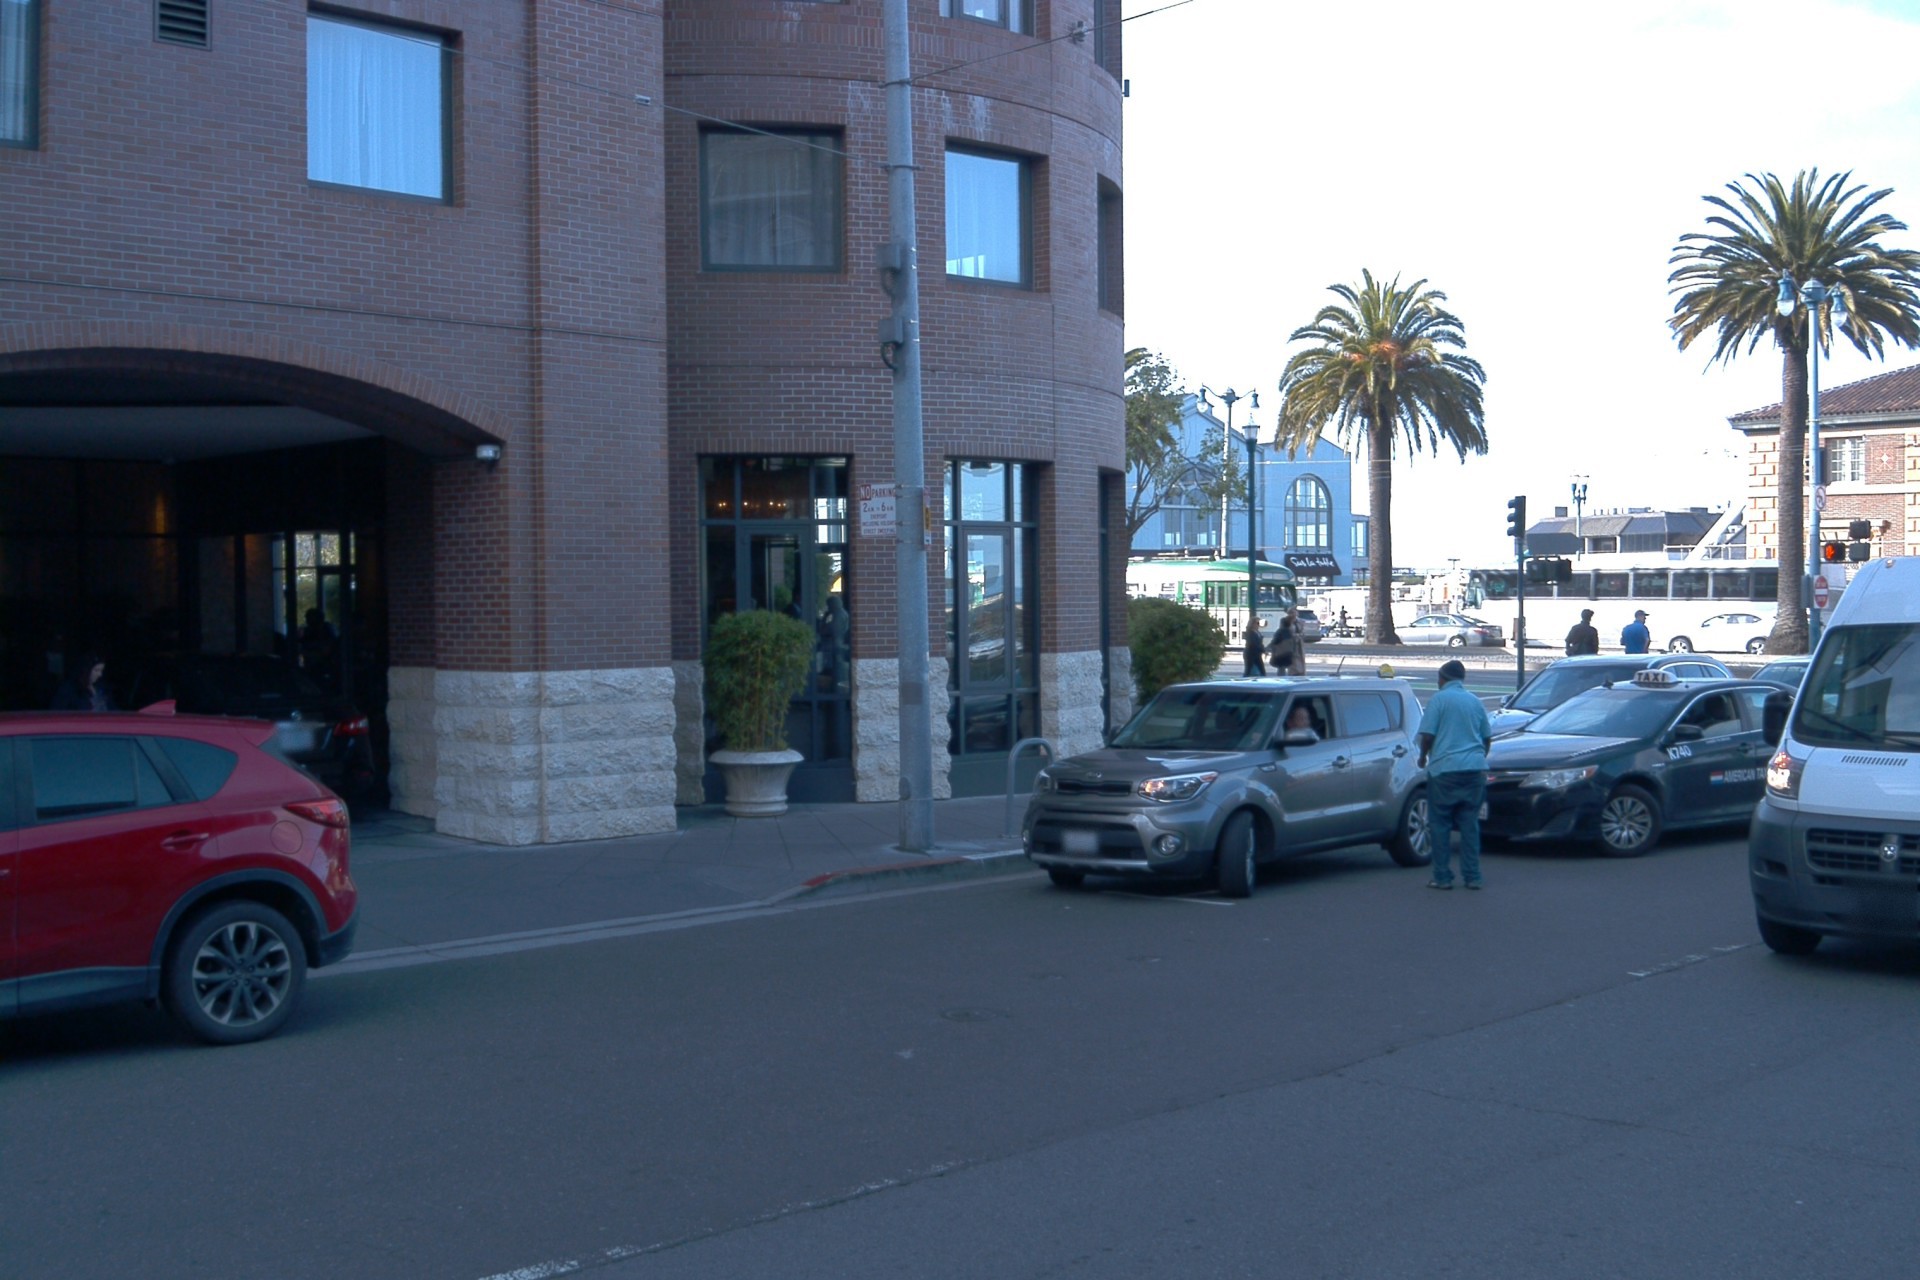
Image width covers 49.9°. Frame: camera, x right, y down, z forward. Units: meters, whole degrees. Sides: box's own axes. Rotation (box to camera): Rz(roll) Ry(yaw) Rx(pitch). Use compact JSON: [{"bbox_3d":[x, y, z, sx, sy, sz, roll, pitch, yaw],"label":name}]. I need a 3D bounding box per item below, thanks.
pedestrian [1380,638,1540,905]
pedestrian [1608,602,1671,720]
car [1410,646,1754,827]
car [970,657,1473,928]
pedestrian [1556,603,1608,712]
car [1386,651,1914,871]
[{"bbox_3d":[3.785,0.970,15.689,0.931,1.950,0.907,0,1,-7],"label":"pedestrian"},{"bbox_3d":[11.578,0.343,35.159,0.970,1.972,0.948,0,1,21],"label":"pedestrian"},{"bbox_3d":[6.726,0.952,22.122,4.036,1.705,1.634,-1,1,-41],"label":"car"},{"bbox_3d":[2.214,1.080,16.590,2.002,1.787,4.174,1,1,42],"label":"car"},{"bbox_3d":[11.145,0.305,36.981,0.740,1.930,0.630,0,1,35],"label":"pedestrian"},{"bbox_3d":[6.357,0.994,18.873,4.715,1.695,2.052,-1,1,-32],"label":"car"}]
